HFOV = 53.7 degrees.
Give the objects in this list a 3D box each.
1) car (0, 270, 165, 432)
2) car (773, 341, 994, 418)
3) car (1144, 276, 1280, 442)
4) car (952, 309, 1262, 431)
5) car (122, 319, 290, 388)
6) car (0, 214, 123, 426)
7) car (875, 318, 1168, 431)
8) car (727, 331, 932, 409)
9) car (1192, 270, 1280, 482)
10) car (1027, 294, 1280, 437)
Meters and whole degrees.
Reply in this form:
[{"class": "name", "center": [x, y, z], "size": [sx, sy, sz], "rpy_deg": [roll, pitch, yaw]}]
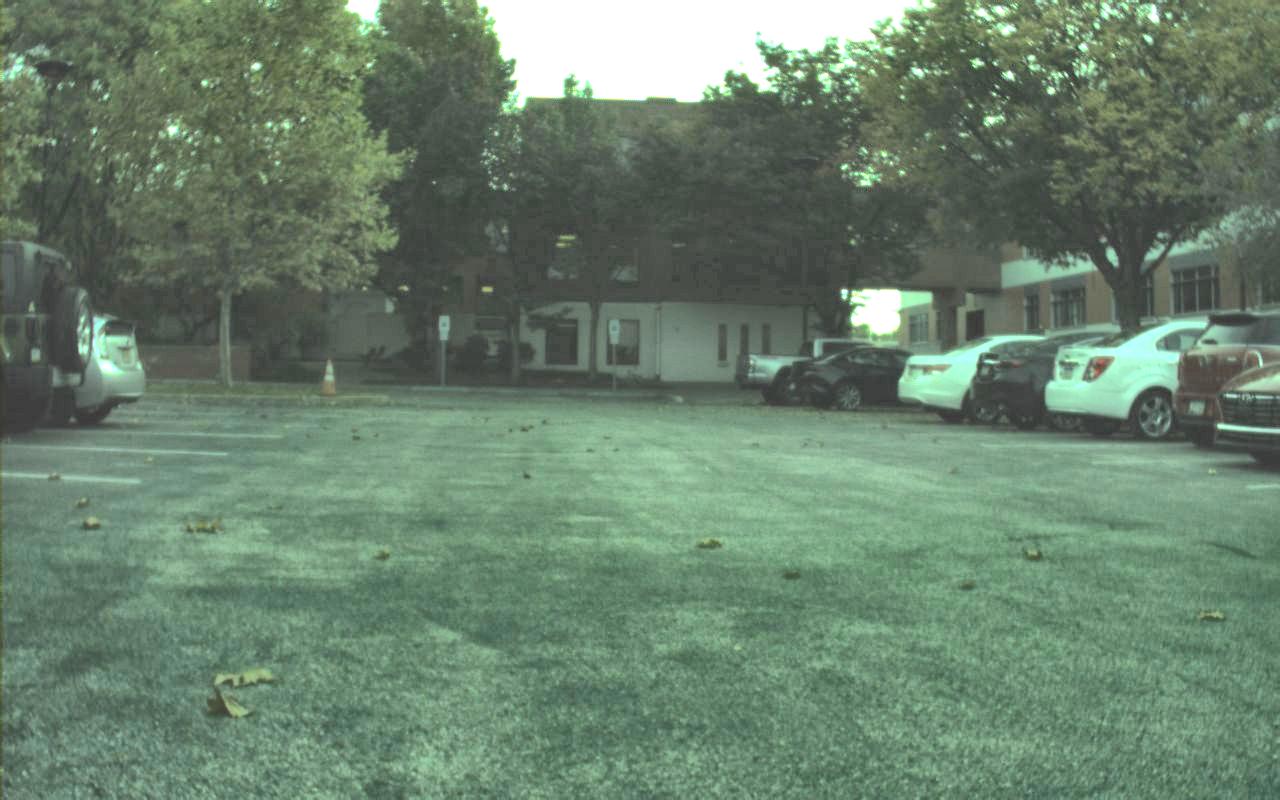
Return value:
[{"class": "car", "center": [-7.719, -0.514, 12.678], "size": [4.494, 1.686, 1.971], "rpy_deg": [0, 1, -10]}, {"class": "car", "center": [5.427, -0.452, 27.674], "size": [4.592, 1.601, 1.959], "rpy_deg": [0, 1, -15]}, {"class": "car", "center": [7.921, -0.397, 12.698], "size": [4.412, 1.635, 1.926], "rpy_deg": [0, 1, -17]}, {"class": "car", "center": [6.918, -0.406, 17.508], "size": [4.443, 1.624, 1.931], "rpy_deg": [0, 1, -8]}, {"class": "car", "center": [-14.650, -1.509, 40.288], "size": [5.587, 2.250, 2.286], "rpy_deg": [0, 1, -9]}, {"class": "car", "center": [-7.362, -0.688, 10.269], "size": [4.678, 1.798, 2.026], "rpy_deg": [0, 1, -10]}, {"class": "car", "center": [6.290, -0.394, 20.033], "size": [4.580, 1.719, 1.996], "rpy_deg": [0, 1, -5]}, {"class": "car", "center": [4.919, -0.759, 32.698], "size": [5.010, 1.917, 2.098], "rpy_deg": [0, 1, -8]}, {"class": "car", "center": [7.199, -0.165, 9.504], "size": [4.511, 1.585, 1.955], "rpy_deg": [0, 1, -7]}, {"class": "car", "center": [7.325, -0.394, 15.042], "size": [4.465, 1.666, 1.934], "rpy_deg": [0, 1, -4]}]
